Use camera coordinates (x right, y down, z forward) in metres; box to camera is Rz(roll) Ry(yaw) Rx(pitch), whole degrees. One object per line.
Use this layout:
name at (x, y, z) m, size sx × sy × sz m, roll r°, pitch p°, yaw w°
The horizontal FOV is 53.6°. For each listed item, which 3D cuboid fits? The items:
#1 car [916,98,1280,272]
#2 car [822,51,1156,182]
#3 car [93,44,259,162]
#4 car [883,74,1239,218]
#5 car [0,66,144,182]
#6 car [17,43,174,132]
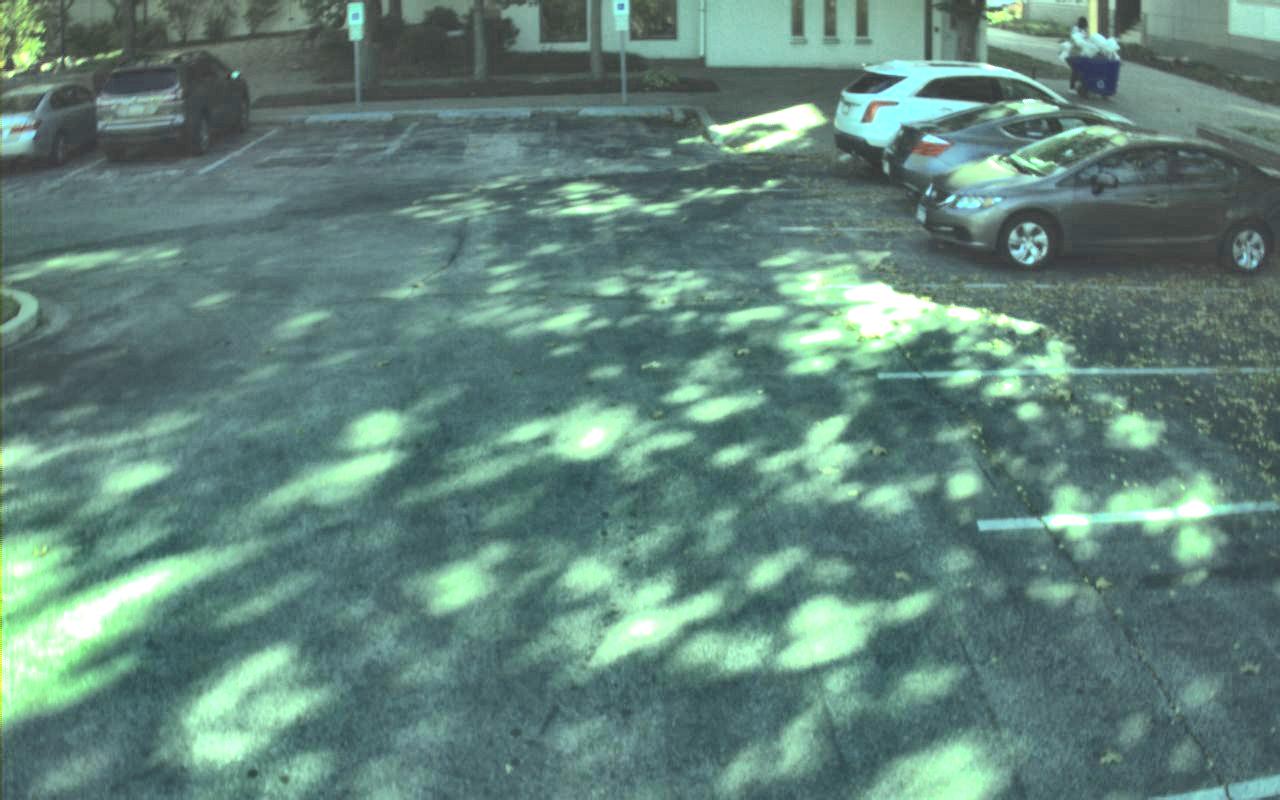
car at (5.355, -2.326, 12.634) m, size 4.576 × 1.539 × 1.962 m, roll -1°, pitch 16°, yaw -1°
car at (5.041, -4.099, 17.349) m, size 4.582 × 1.662 × 1.986 m, roll -3°, pitch 16°, yaw -5°
car at (-8.371, -5.471, 21.208) m, size 2.017 × 1.726 × 4.649 m, roll -3°, pitch 17°, yaw -6°
car at (5.288, -3.200, 14.924) m, size 4.283 × 1.531 × 1.915 m, roll -2°, pitch 16°, yaw -2°
car at (-10.983, -5.190, 20.904) m, size 1.957 × 1.606 × 4.500 m, roll -1°, pitch 17°, yaw 0°
car at (-13.101, -7.529, 27.256) m, size 1.975 × 1.666 × 4.851 m, roll 0°, pitch 17°, yaw 4°
